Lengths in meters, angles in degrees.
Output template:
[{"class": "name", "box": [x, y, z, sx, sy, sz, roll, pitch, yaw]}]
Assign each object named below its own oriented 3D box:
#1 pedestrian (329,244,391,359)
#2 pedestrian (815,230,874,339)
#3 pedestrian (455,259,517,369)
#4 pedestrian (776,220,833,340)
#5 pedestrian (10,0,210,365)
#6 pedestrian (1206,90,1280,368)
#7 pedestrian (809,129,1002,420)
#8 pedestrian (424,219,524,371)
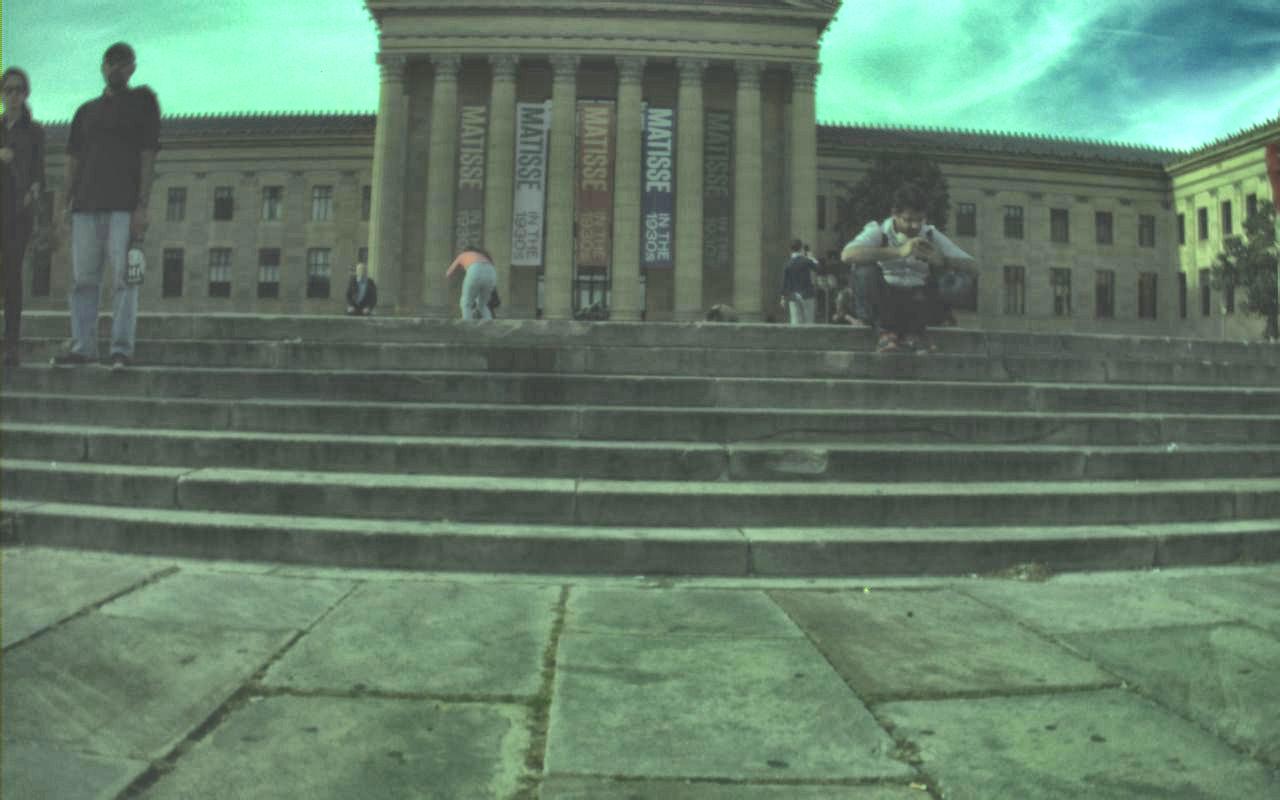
[{"class": "pedestrian", "box": [-4.301, -1.491, 18.967, 0.801, 1.722, 0.799, 0, 0, -1]}, {"class": "pedestrian", "box": [3.161, -1.764, 19.357, 0.718, 1.629, 0.710, 0, 0, -10]}, {"class": "pedestrian", "box": [-2.366, -1.297, 19.181, 0.849, 1.642, 0.847, 0, 0, -13]}, {"class": "pedestrian", "box": [2.485, -1.791, 18.988, 0.795, 1.760, 0.770, 0, 0, 1]}, {"class": "pedestrian", "box": [-2.763, -1.079, 5.976, 0.769, 1.819, 0.761, 0, 0, 0]}, {"class": "pedestrian", "box": [4.411, -1.124, 7.749, 0.714, 1.844, 0.708, 0, 0, -30]}, {"class": "pedestrian", "box": [1.444, -0.644, 6.700, 0.718, 1.463, 0.796, 0, 0, -45]}, {"class": "pedestrian", "box": [-1.948, -1.206, 14.728, 0.881, 1.722, 0.830, 1, 0, 18]}]
